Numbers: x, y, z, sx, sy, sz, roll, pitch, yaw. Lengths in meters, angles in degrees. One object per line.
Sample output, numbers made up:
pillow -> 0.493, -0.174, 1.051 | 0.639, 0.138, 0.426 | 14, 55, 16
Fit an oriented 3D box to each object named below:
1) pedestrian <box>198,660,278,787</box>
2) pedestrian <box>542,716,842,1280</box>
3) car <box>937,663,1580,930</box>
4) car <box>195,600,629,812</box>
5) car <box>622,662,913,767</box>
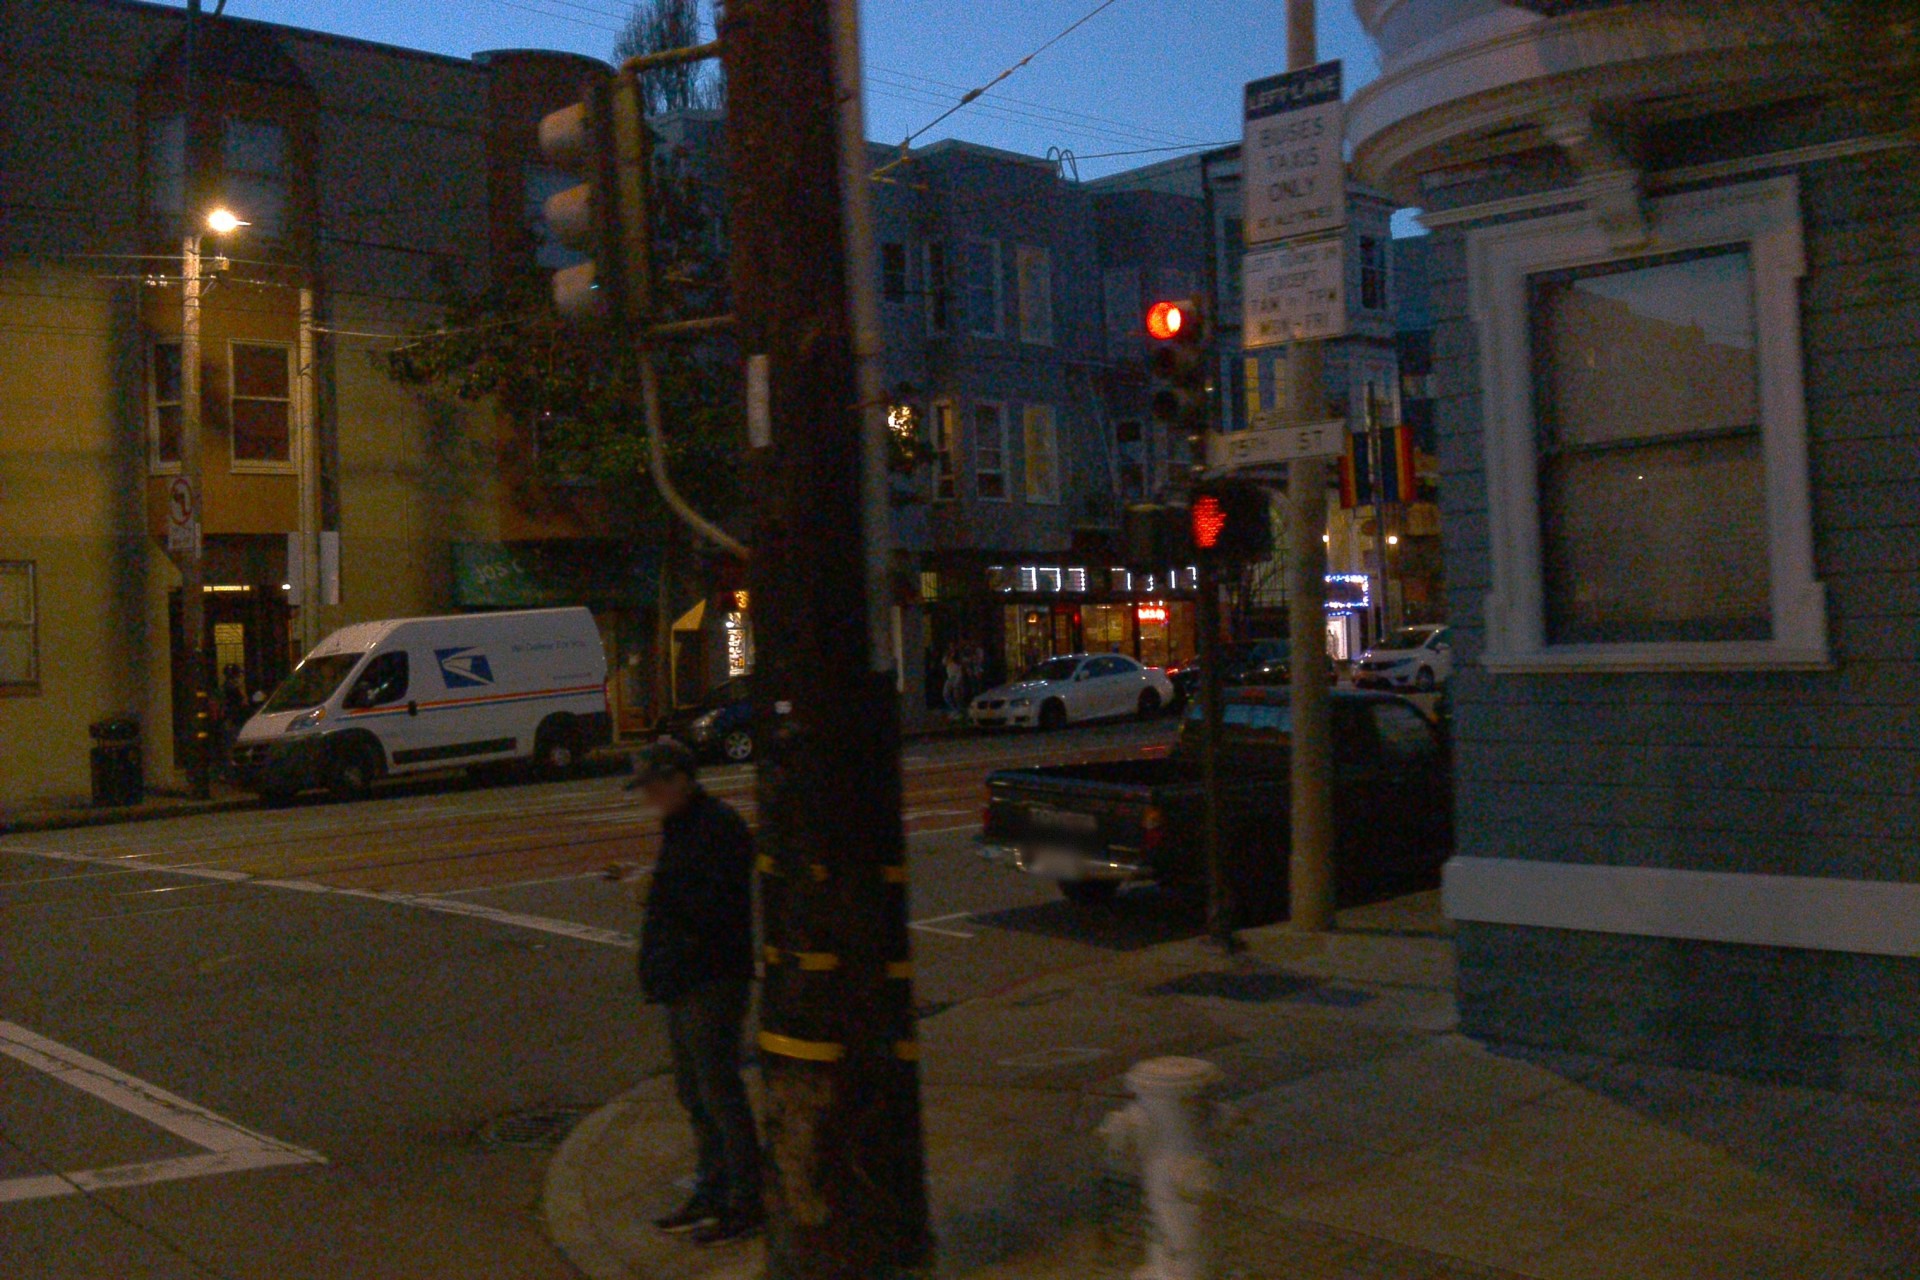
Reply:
pedestrian -> -10.911, 1.245, 31.219 | 0.862, 1.870, 0.832 | -1, 1, -45
pedestrian -> -0.965, 1.234, 7.437 | 0.758, 1.870, 0.761 | 1, 1, 45
car -> 2.418, 1.021, 15.614 | 5.176, 1.590, 2.052 | -1, 1, -44
car -> -7.689, 0.827, 29.454 | 2.515, 2.730, 5.482 | 1, 1, 43
car -> -3.112, 1.170, 34.067 | 4.511, 1.520, 2.027 | -1, 1, -44
